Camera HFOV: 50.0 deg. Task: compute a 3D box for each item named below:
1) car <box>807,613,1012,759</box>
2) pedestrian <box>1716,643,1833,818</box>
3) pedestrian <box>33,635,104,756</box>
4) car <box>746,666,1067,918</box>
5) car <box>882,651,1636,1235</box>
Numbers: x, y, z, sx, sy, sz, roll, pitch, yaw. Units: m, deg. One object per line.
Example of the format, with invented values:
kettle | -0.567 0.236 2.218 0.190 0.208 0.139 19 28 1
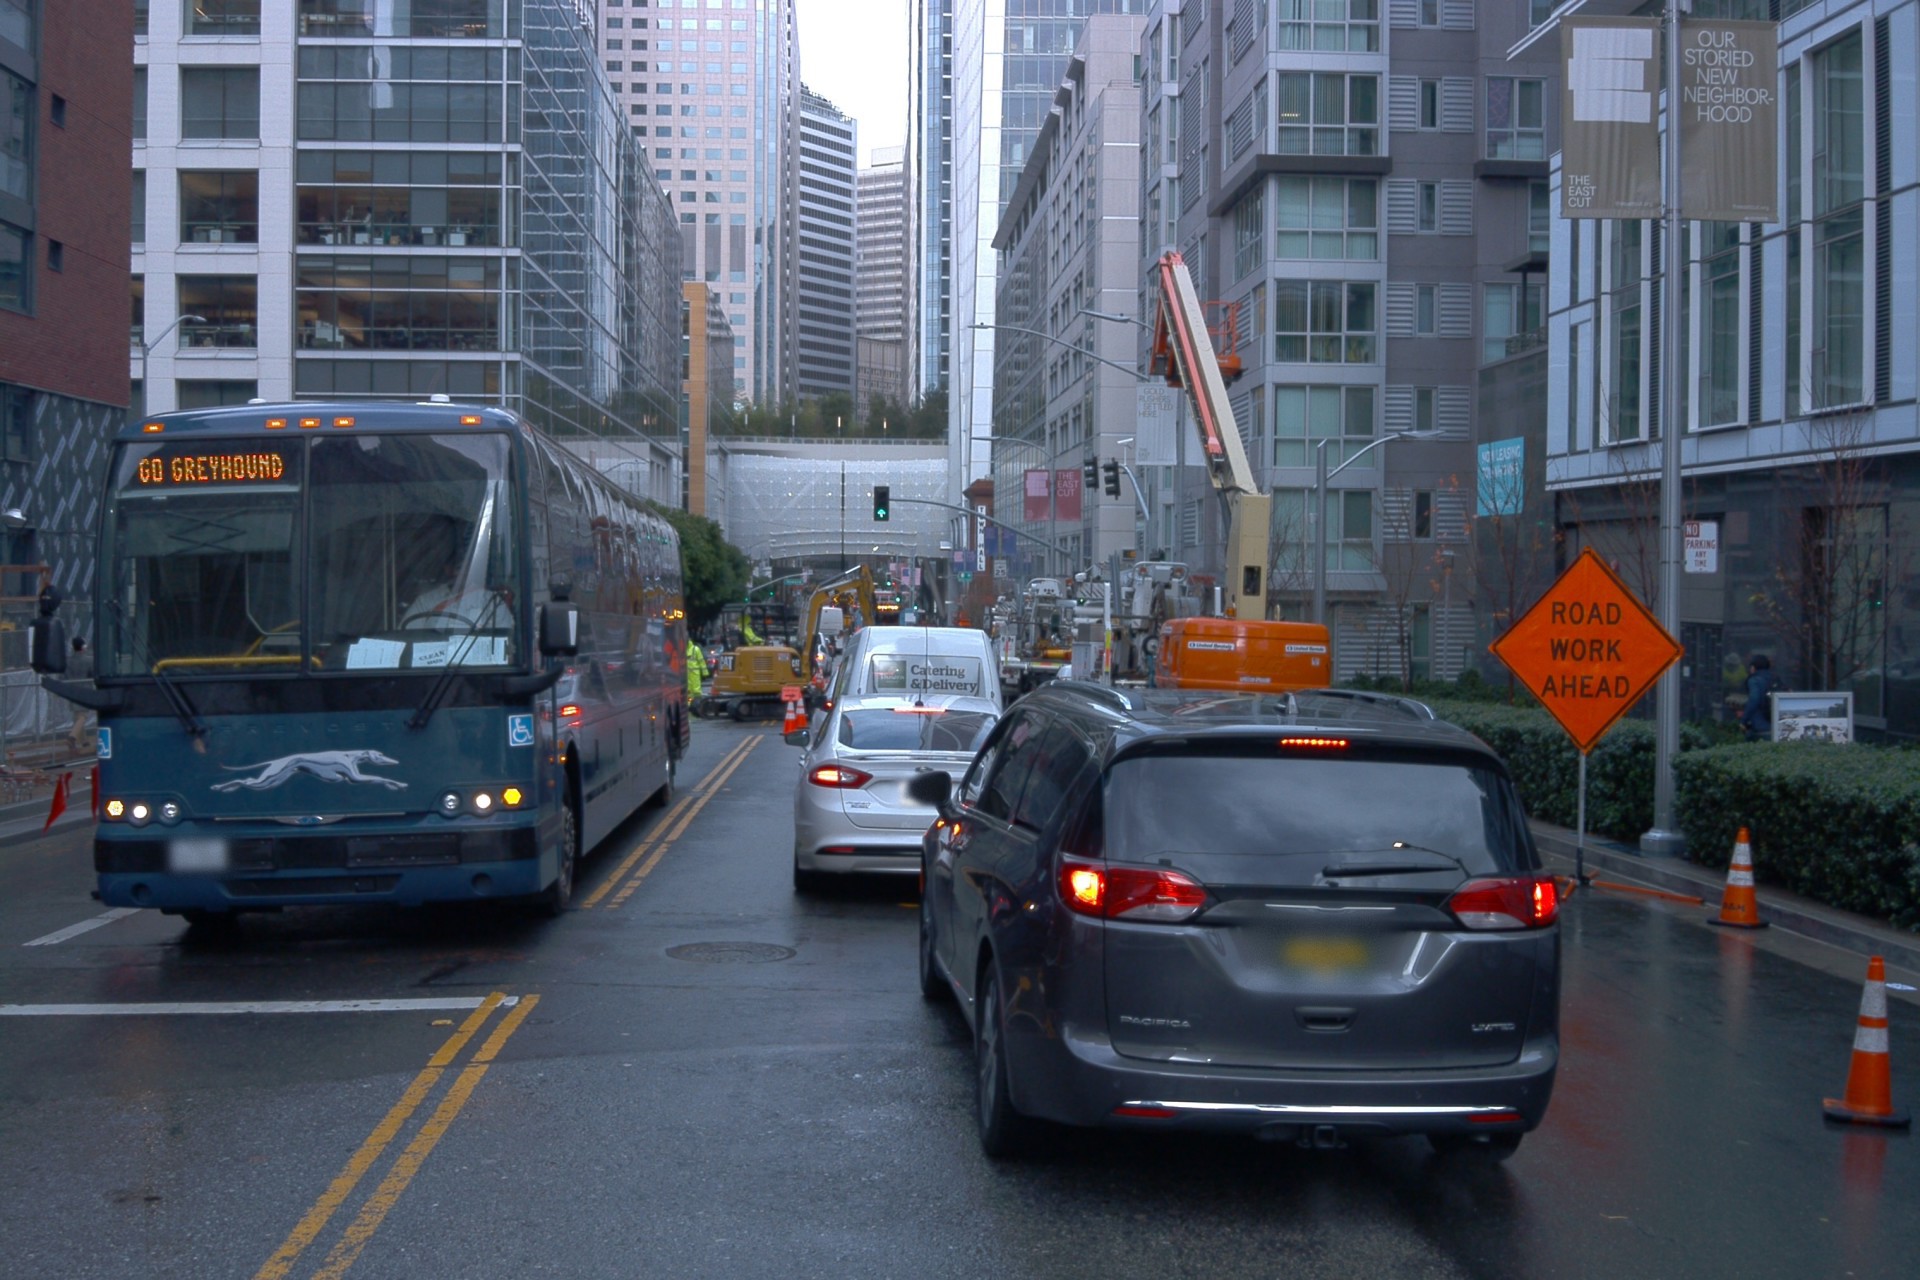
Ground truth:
car | -0.637 0.452 22.652 1.860 1.470 3.431 0 1 -8
pedestrian | 8.797 0.963 22.274 0.833 1.833 0.889 1 0 -6
pedestrian | -13.541 0.837 31.325 0.772 1.810 0.782 1 0 -5
car | -0.436 1.065 16.448 2.164 1.580 4.902 1 1 -2
car | 0.884 0.973 8.954 2.058 1.750 4.787 1 1 -7
